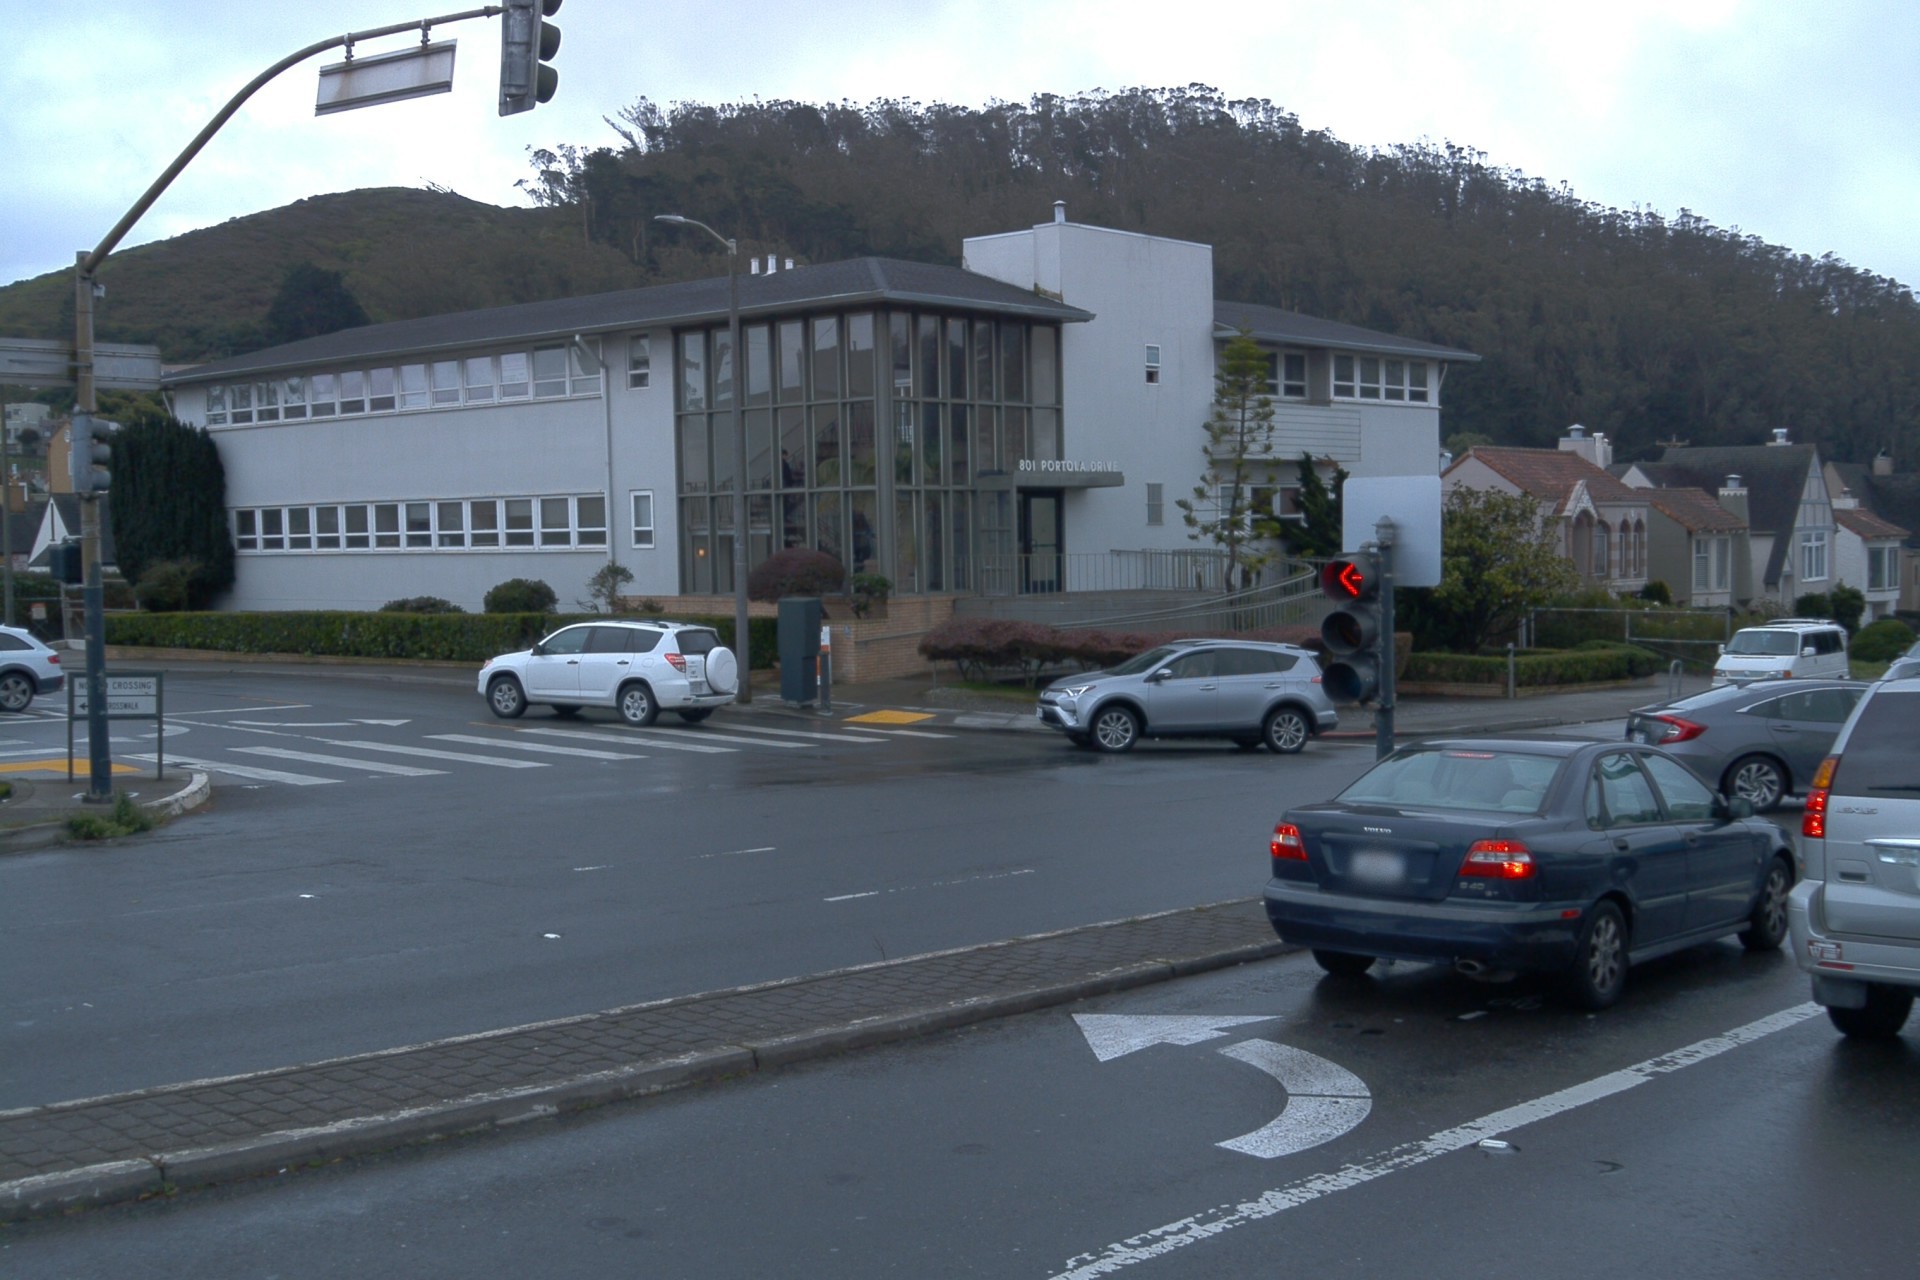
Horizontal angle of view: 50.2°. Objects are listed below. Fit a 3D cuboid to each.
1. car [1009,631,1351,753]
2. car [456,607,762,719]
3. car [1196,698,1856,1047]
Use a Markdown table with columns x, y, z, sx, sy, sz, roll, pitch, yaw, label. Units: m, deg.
| x | y | z | sx | sy | sz | roll | pitch | yaw | label |
| --- | --- | --- | --- | --- | --- | --- | --- | --- | --- |
| 3.278 | 0.746 | 30.949 | 4.662 | 1.740 | 2.197 | 0 | 1 | -13 | car |
| -5.859 | 0.334 | 34.120 | 4.735 | 1.740 | 2.054 | 1 | 1 | 28 | car |
| 3.469 | 1.176 | 12.053 | 1.961 | 1.500 | 4.296 | 1 | 1 | 43 | car |
